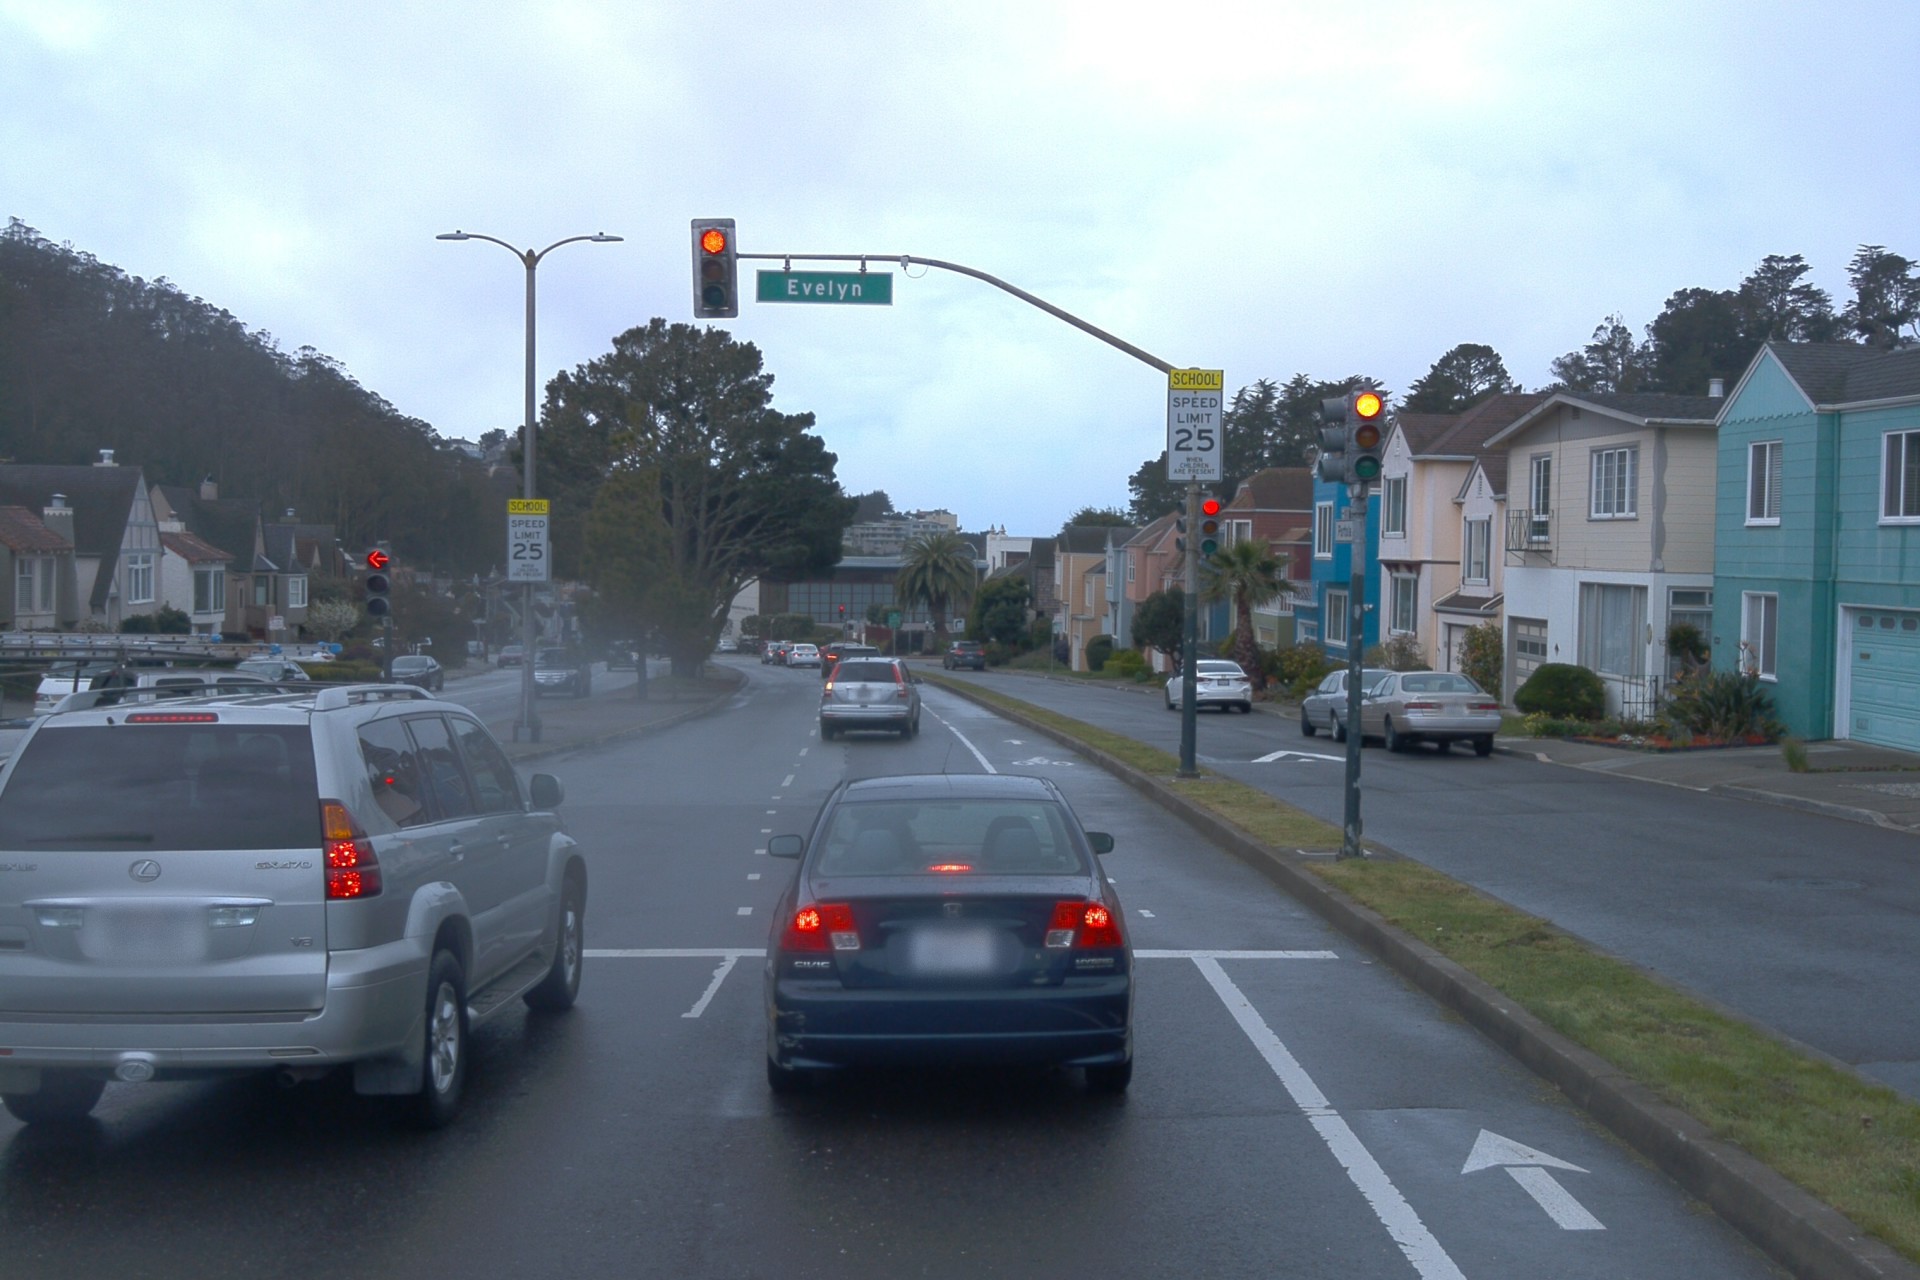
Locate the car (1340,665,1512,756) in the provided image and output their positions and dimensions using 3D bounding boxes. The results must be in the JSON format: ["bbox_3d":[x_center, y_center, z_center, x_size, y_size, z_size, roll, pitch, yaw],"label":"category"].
[{"bbox_3d":[8.084,1.179,36.132,1.755,1.440,4.469,0,0,-4],"label":"car"}]

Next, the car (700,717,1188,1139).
[{"bbox_3d":[-0.106,1.259,10.546,2.004,1.570,4.164,0,0,-1],"label":"car"}]
